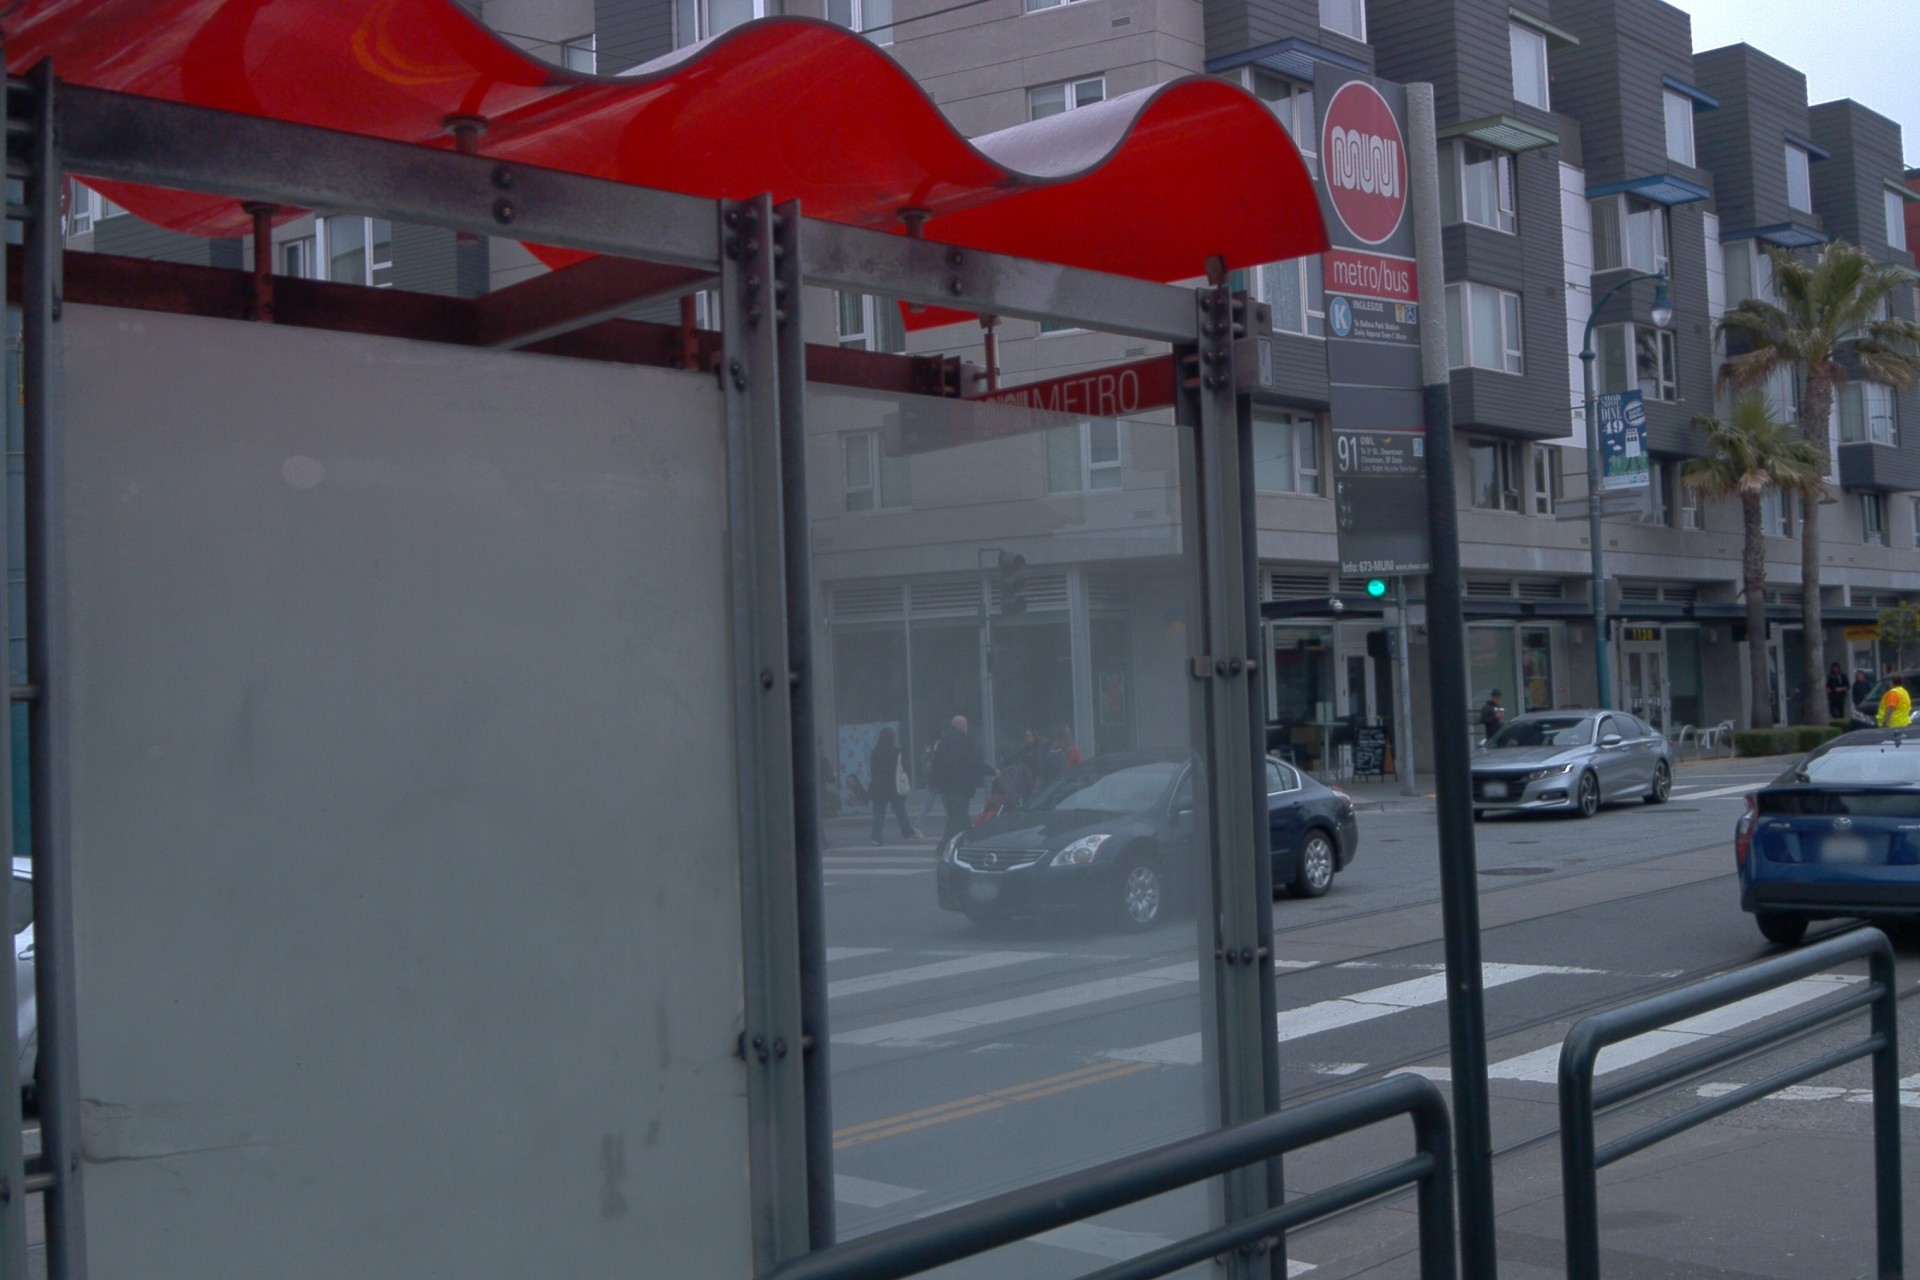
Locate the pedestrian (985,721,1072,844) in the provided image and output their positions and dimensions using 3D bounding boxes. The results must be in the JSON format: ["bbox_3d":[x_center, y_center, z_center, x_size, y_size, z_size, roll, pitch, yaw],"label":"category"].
[{"bbox_3d":[0.956,1.964,28.739,0.724,1.613,1.028,1,1,40],"label":"pedestrian"}]

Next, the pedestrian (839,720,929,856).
[{"bbox_3d":[-1.026,1.986,27.962,0.777,1.733,0.989,1,1,36],"label":"pedestrian"}]

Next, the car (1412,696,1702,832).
[{"bbox_3d":[8.447,1.655,28.909,2.178,1.500,4.889,1,1,39],"label":"car"}]

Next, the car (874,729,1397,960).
[{"bbox_3d":[1.696,1.670,18.286,2.135,1.460,4.878,1,1,41],"label":"car"}]

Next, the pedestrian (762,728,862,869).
[{"bbox_3d":[-1.934,2.052,27.013,0.857,1.730,0.990,1,1,36],"label":"pedestrian"}]

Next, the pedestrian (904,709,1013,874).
[{"bbox_3d":[-0.021,1.820,25.188,0.990,1.900,0.907,-1,1,-33],"label":"pedestrian"}]
